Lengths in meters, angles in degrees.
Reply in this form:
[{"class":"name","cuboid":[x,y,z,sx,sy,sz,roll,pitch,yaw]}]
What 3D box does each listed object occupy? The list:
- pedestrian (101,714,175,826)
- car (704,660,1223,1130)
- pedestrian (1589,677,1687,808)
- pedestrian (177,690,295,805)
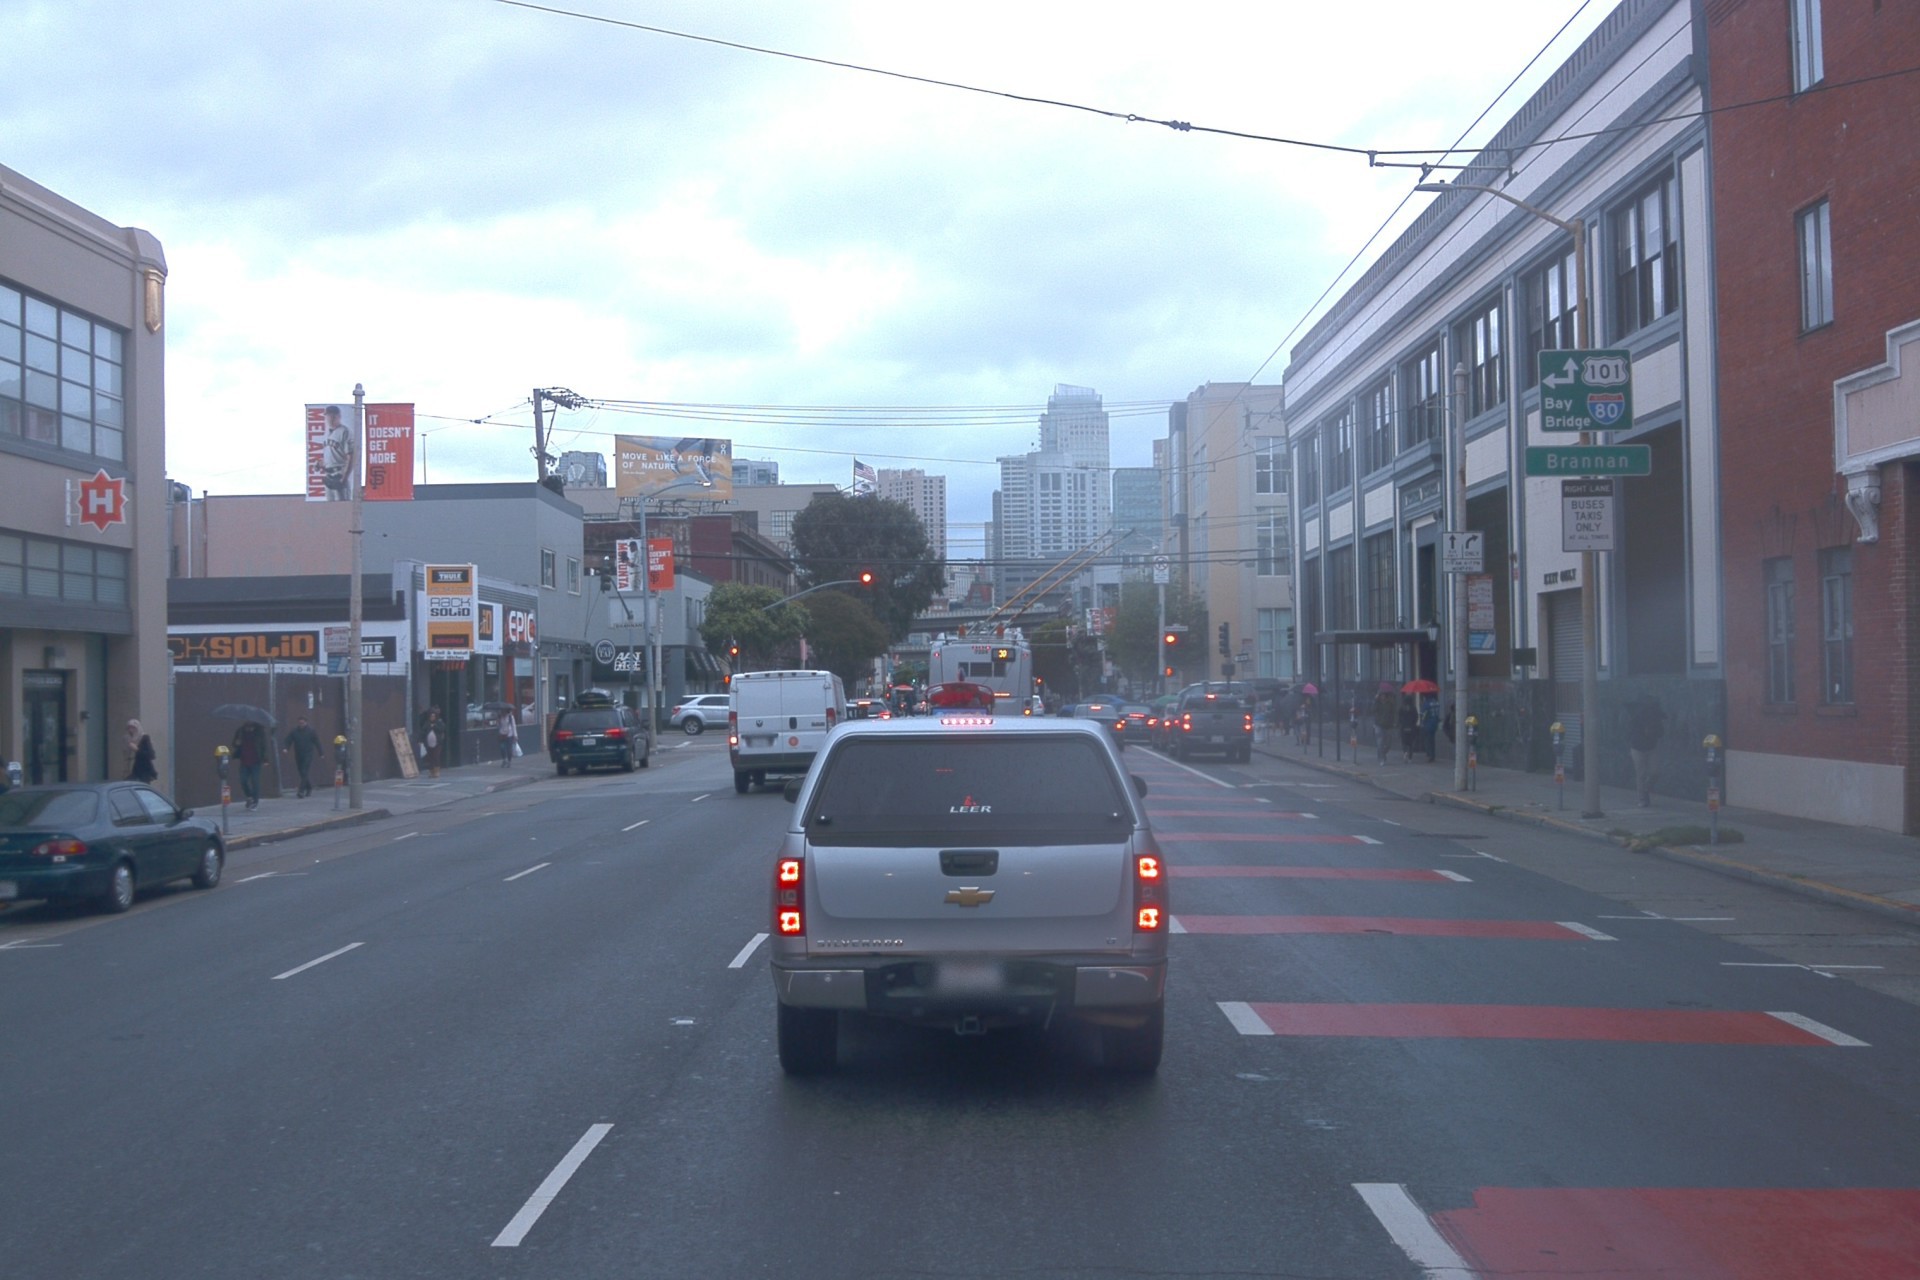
[{"class":"pedestrian","cuboid":[-13.093,2.053,33.036,0.852,1.740,0.841,0,-1,0]},{"class":"car","cuboid":[0.035,1.236,12.218,2.437,2.200,4.924,0,-1,0]},{"class":"pedestrian","cuboid":[10.434,1.552,31.959,1.012,1.970,1.529,0,-1,1]},{"class":"pedestrian","cuboid":[-12.575,1.849,36.077,1.514,1.950,1.493,0,-1,1]}]
